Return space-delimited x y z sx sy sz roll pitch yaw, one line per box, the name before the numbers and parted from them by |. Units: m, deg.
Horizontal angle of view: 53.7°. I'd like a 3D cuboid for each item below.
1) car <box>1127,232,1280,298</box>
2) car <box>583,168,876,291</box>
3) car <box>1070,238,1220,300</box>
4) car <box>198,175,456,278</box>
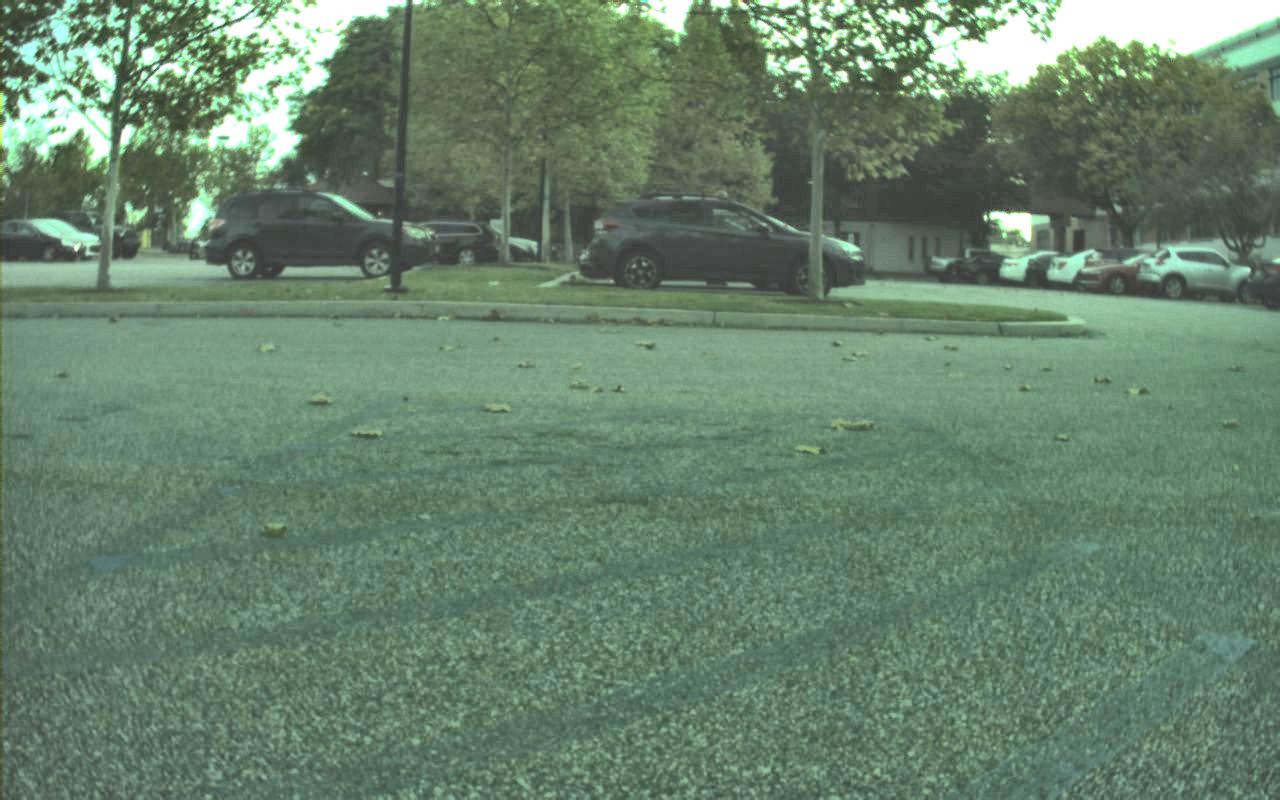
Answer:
car | 16.372 -3.794 33.412 4.466 1.637 1.951 1 1 4
car | 1.374 -2.703 20.267 4.537 1.722 1.962 0 1 -2
car | 15.500 -3.911 36.178 4.470 1.645 1.949 1 1 3
car | -5.927 -3.228 23.225 4.650 1.694 1.995 0 1 0
